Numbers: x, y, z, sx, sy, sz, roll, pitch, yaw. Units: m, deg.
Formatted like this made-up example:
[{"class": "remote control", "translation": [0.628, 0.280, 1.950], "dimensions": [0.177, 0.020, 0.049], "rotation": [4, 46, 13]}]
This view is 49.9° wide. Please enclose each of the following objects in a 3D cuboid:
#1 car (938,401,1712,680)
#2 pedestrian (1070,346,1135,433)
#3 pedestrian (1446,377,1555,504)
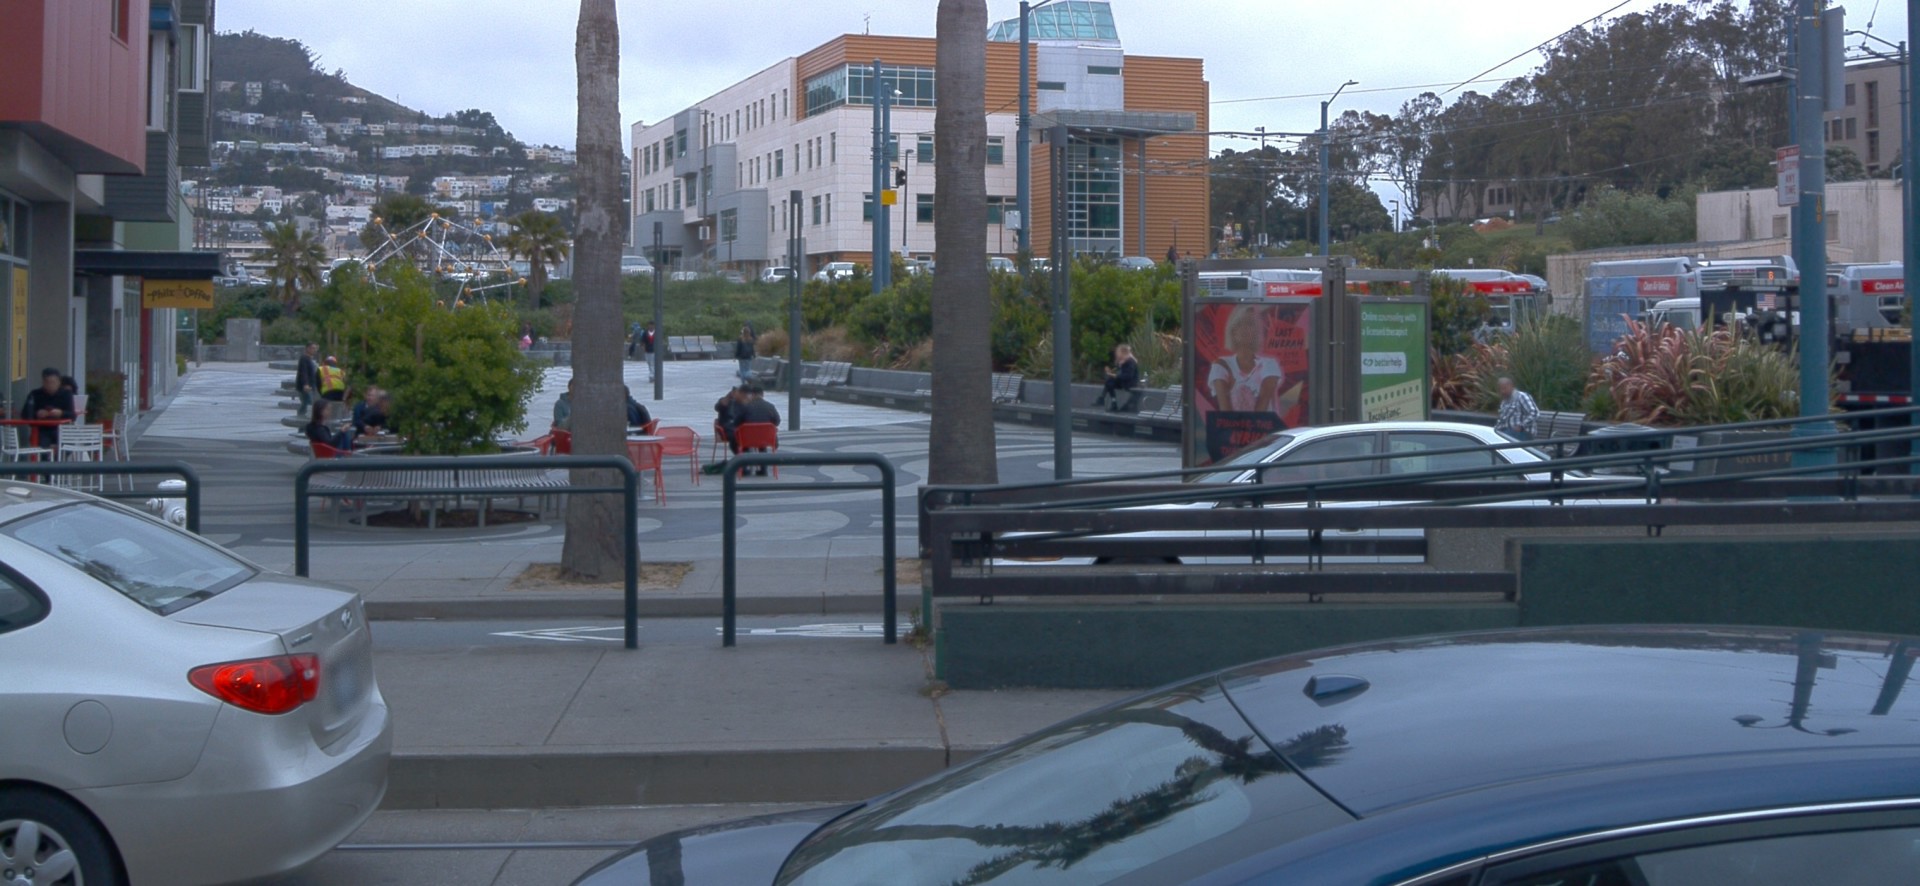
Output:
[{"class": "car", "translation": [2.212, 0.566, 13.490], "dimensions": [4.678, 1.444, 2.051], "rotation": [0, 5, -2]}, {"class": "pedestrian", "translation": [2.498, -0.950, 36.312], "dimensions": [0.814, 1.417, 0.932], "rotation": [-1, 3, -22]}, {"class": "pedestrian", "translation": [6.530, -0.048, 24.950], "dimensions": [0.890, 1.397, 0.955], "rotation": [-1, 3, -22]}]
